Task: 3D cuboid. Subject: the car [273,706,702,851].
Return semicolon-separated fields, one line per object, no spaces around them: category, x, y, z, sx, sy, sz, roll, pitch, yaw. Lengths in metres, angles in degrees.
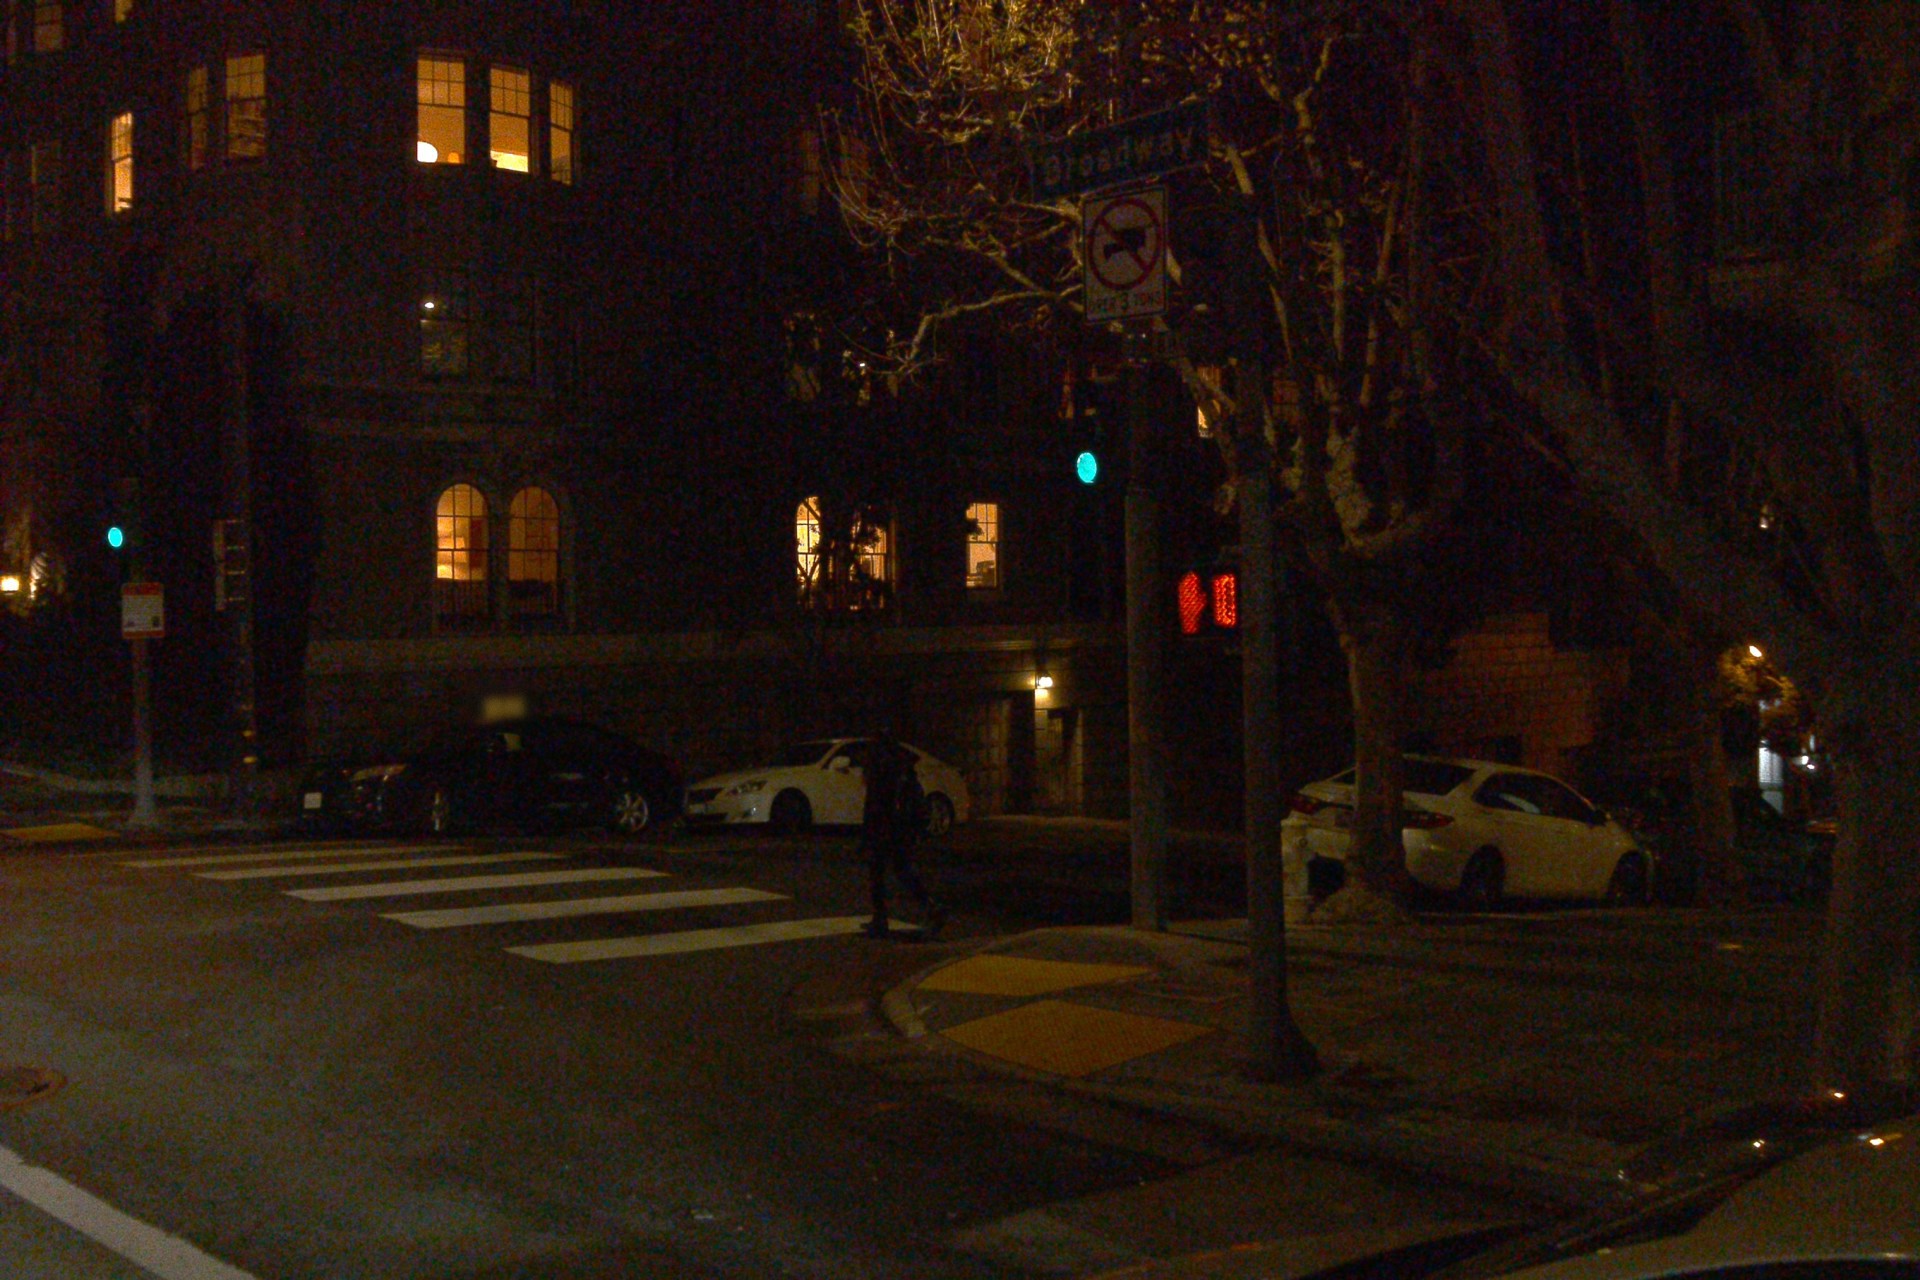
car;-5.376;1.525;23.868;1.838;1.362;4.644;1;0;42

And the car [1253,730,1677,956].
car;5.162;1.916;20.643;4.554;1.811;1.990;0;0;-44

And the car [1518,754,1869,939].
car;8.911;2.377;24.708;4.887;1.744;1.990;0;0;-44

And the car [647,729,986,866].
car;-1.845;2.048;27.686;1.919;1.482;4.488;1;0;42

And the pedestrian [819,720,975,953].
pedestrian;-0.461;1.392;14.884;0.707;1.570;0.903;0;0;-42
